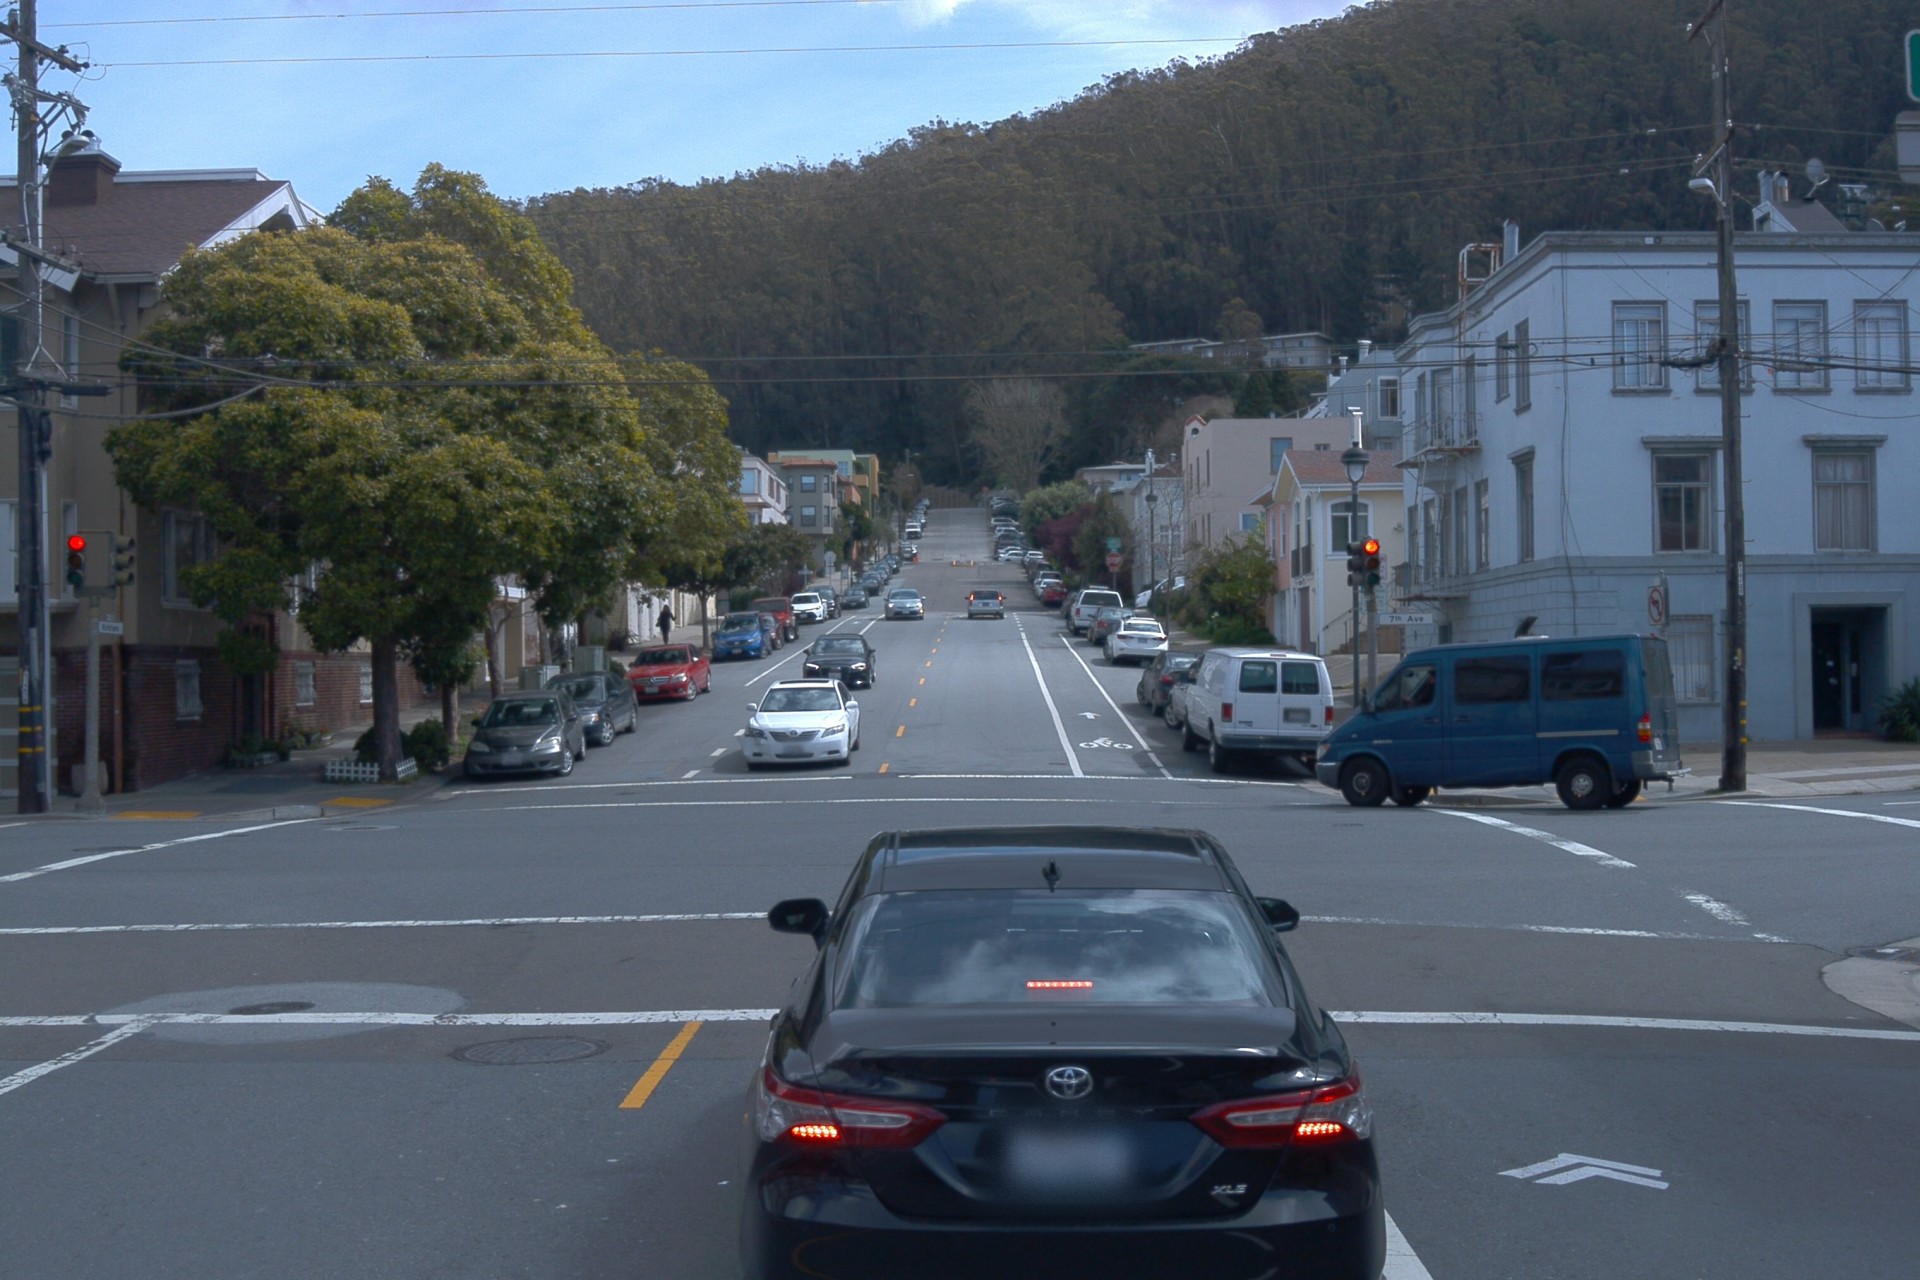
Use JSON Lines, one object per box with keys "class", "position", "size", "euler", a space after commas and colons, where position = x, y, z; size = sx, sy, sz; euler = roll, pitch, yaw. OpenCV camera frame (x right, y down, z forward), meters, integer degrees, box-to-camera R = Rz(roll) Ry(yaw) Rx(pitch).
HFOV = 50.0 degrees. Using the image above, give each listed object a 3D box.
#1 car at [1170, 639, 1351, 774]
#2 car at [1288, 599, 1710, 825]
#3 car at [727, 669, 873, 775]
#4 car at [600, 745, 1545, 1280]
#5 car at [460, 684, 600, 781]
{"class": "car", "position": [5.314, 1.116, 37.223], "size": [2.299, 2.250, 5.313], "euler": [0, 0, -2]}
{"class": "car", "position": [7.431, 0.912, 28.477], "size": [5.092, 2.850, 2.619], "euler": [0, 0, 31]}
{"class": "car", "position": [-2.840, 1.441, 37.682], "size": [2.209, 1.750, 4.541], "euler": [0, 0, 1]}
{"class": "car", "position": [0.282, 1.305, 7.305], "size": [2.249, 1.620, 4.798], "euler": [0, 0, 0]}
{"class": "car", "position": [-7.707, 1.620, 37.253], "size": [1.836, 1.560, 4.133], "euler": [0, 0, -3]}
